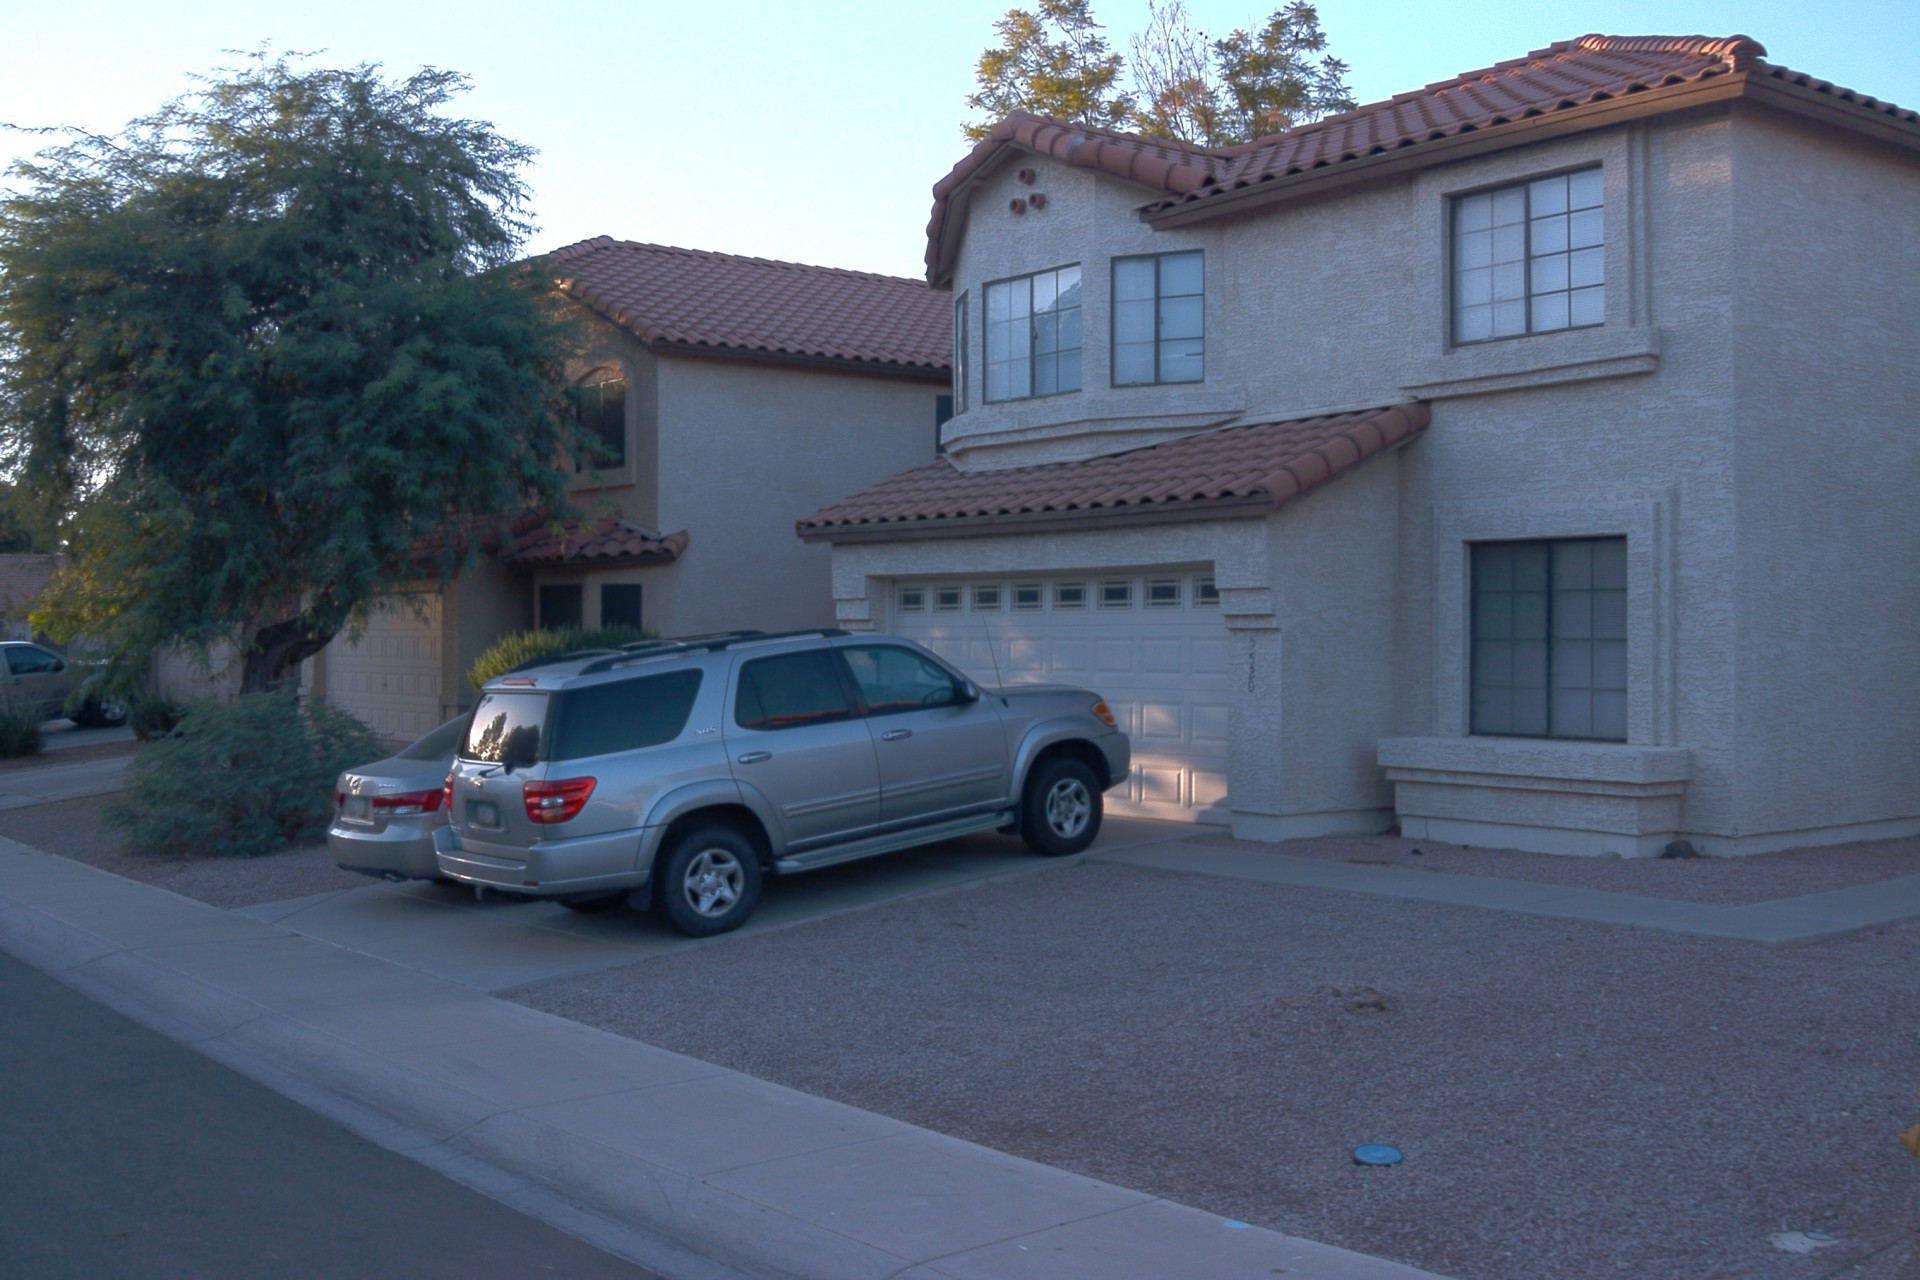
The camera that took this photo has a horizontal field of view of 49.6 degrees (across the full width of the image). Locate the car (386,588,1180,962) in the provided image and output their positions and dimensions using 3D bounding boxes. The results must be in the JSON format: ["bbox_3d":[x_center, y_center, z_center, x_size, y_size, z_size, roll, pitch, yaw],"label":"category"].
[{"bbox_3d":[-1.183,0.849,15.152,5.293,2.280,2.368,0,-1,-35],"label":"car"}]

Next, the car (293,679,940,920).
[{"bbox_3d":[-2.715,1.170,16.966,4.779,1.670,2.107,1,-1,-37],"label":"car"}]
